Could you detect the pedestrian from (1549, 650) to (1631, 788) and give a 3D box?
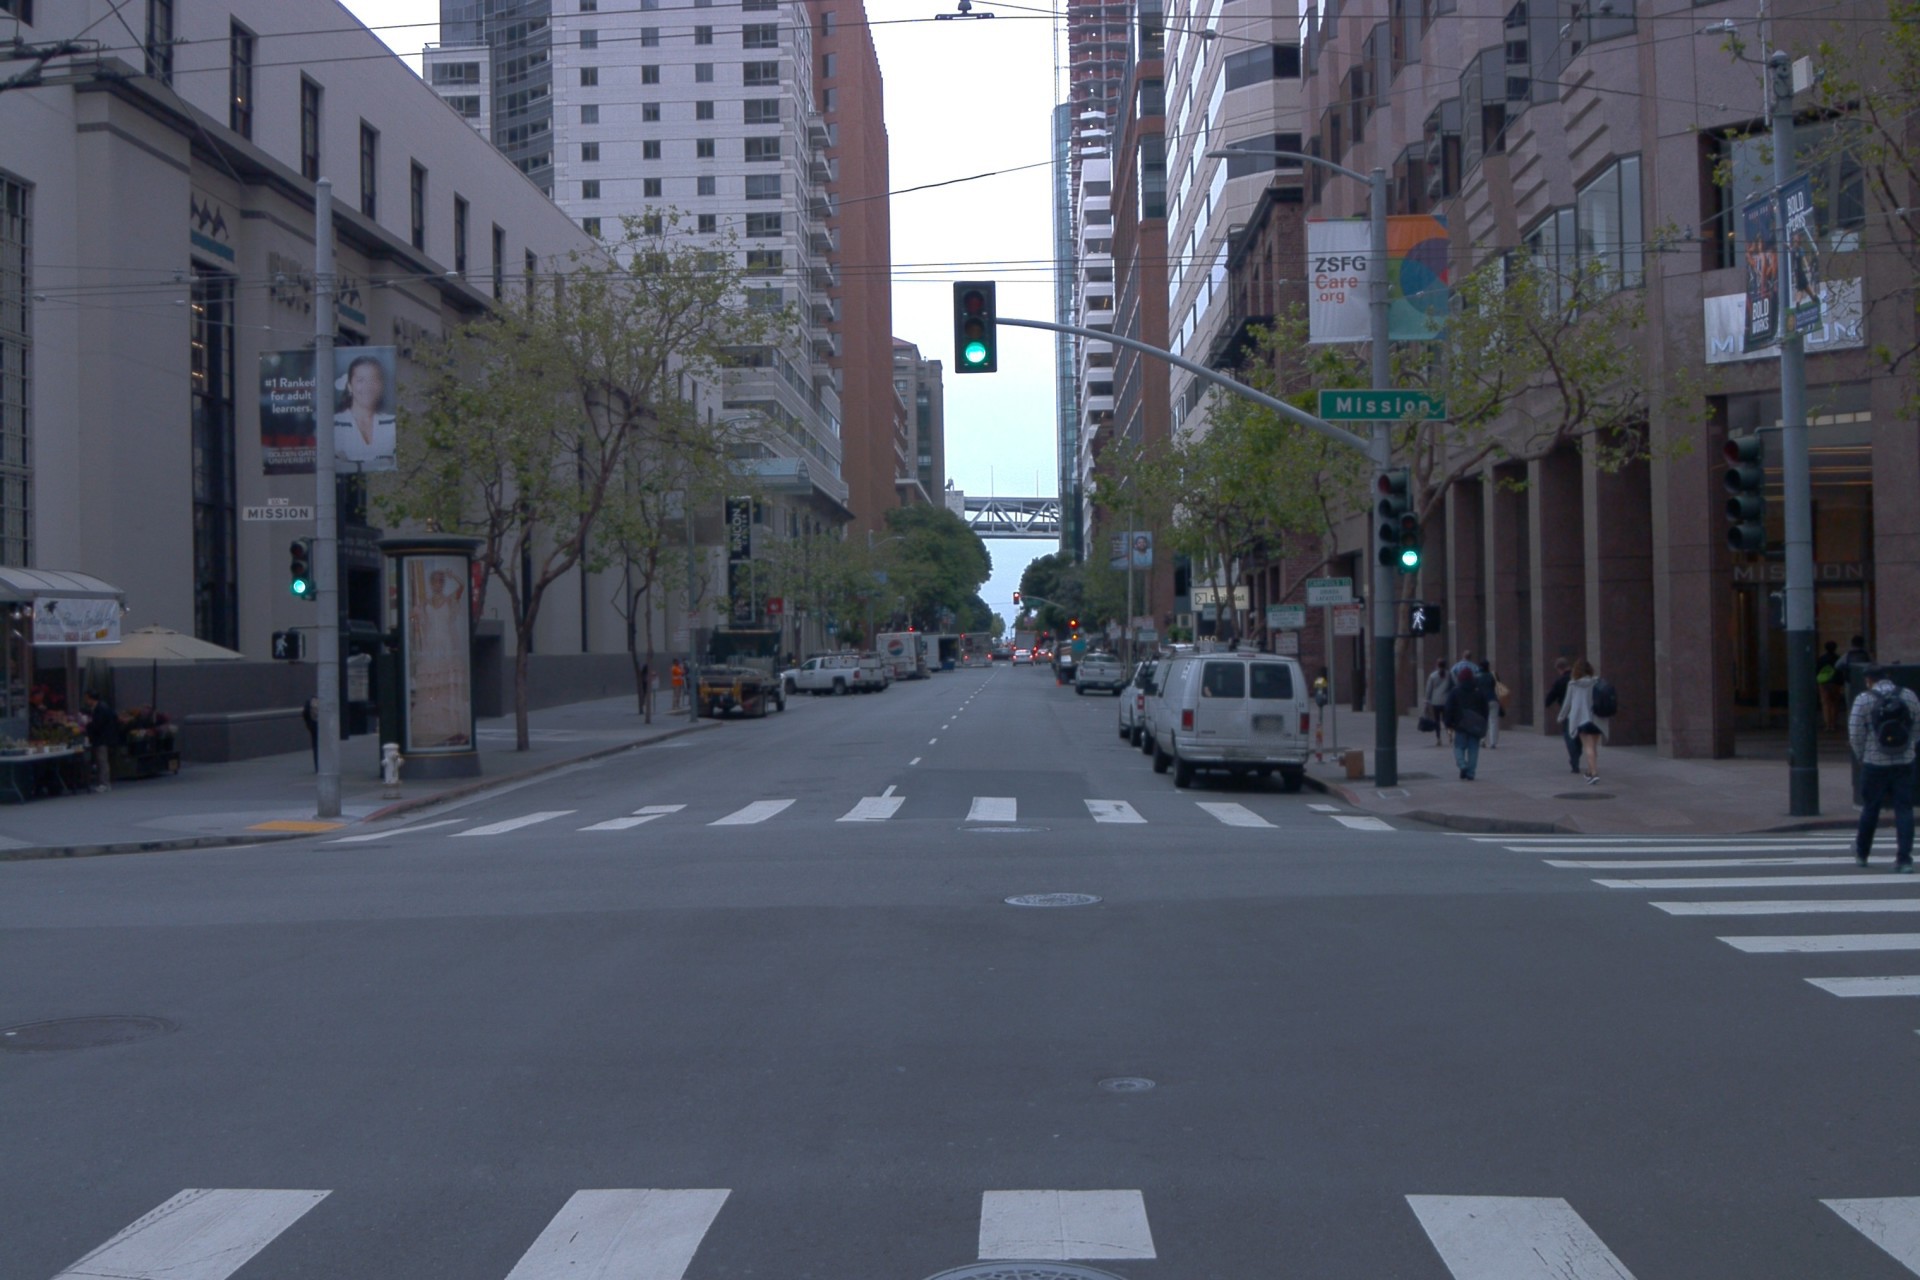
[{"bbox_3d":[8.660,1.074,28.295,0.843,1.856,0.961,0,1,1],"label":"pedestrian"}]

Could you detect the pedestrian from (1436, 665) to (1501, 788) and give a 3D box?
[{"bbox_3d":[7.349,1.236,29.716,0.758,1.713,0.969,0,1,4],"label":"pedestrian"}]

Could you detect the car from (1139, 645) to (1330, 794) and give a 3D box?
[{"bbox_3d":[4.282,1.181,33.039,2.314,2.100,5.500,0,1,0],"label":"car"}]

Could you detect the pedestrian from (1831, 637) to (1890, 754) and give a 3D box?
[{"bbox_3d":[13.947,0.840,31.824,0.785,1.775,1.046,0,1,26],"label":"pedestrian"}]

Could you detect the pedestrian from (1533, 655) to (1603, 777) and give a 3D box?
[{"bbox_3d":[8.920,1.097,30.203,0.856,1.736,0.996,0,1,9],"label":"pedestrian"}]

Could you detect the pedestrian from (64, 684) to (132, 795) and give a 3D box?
[{"bbox_3d":[-13.998,1.605,33.400,0.753,1.746,0.847,0,1,-3],"label":"pedestrian"}]

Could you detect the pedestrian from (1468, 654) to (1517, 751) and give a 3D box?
[{"bbox_3d":[9.342,1.091,36.088,0.668,1.666,0.852,0,1,2],"label":"pedestrian"}]
